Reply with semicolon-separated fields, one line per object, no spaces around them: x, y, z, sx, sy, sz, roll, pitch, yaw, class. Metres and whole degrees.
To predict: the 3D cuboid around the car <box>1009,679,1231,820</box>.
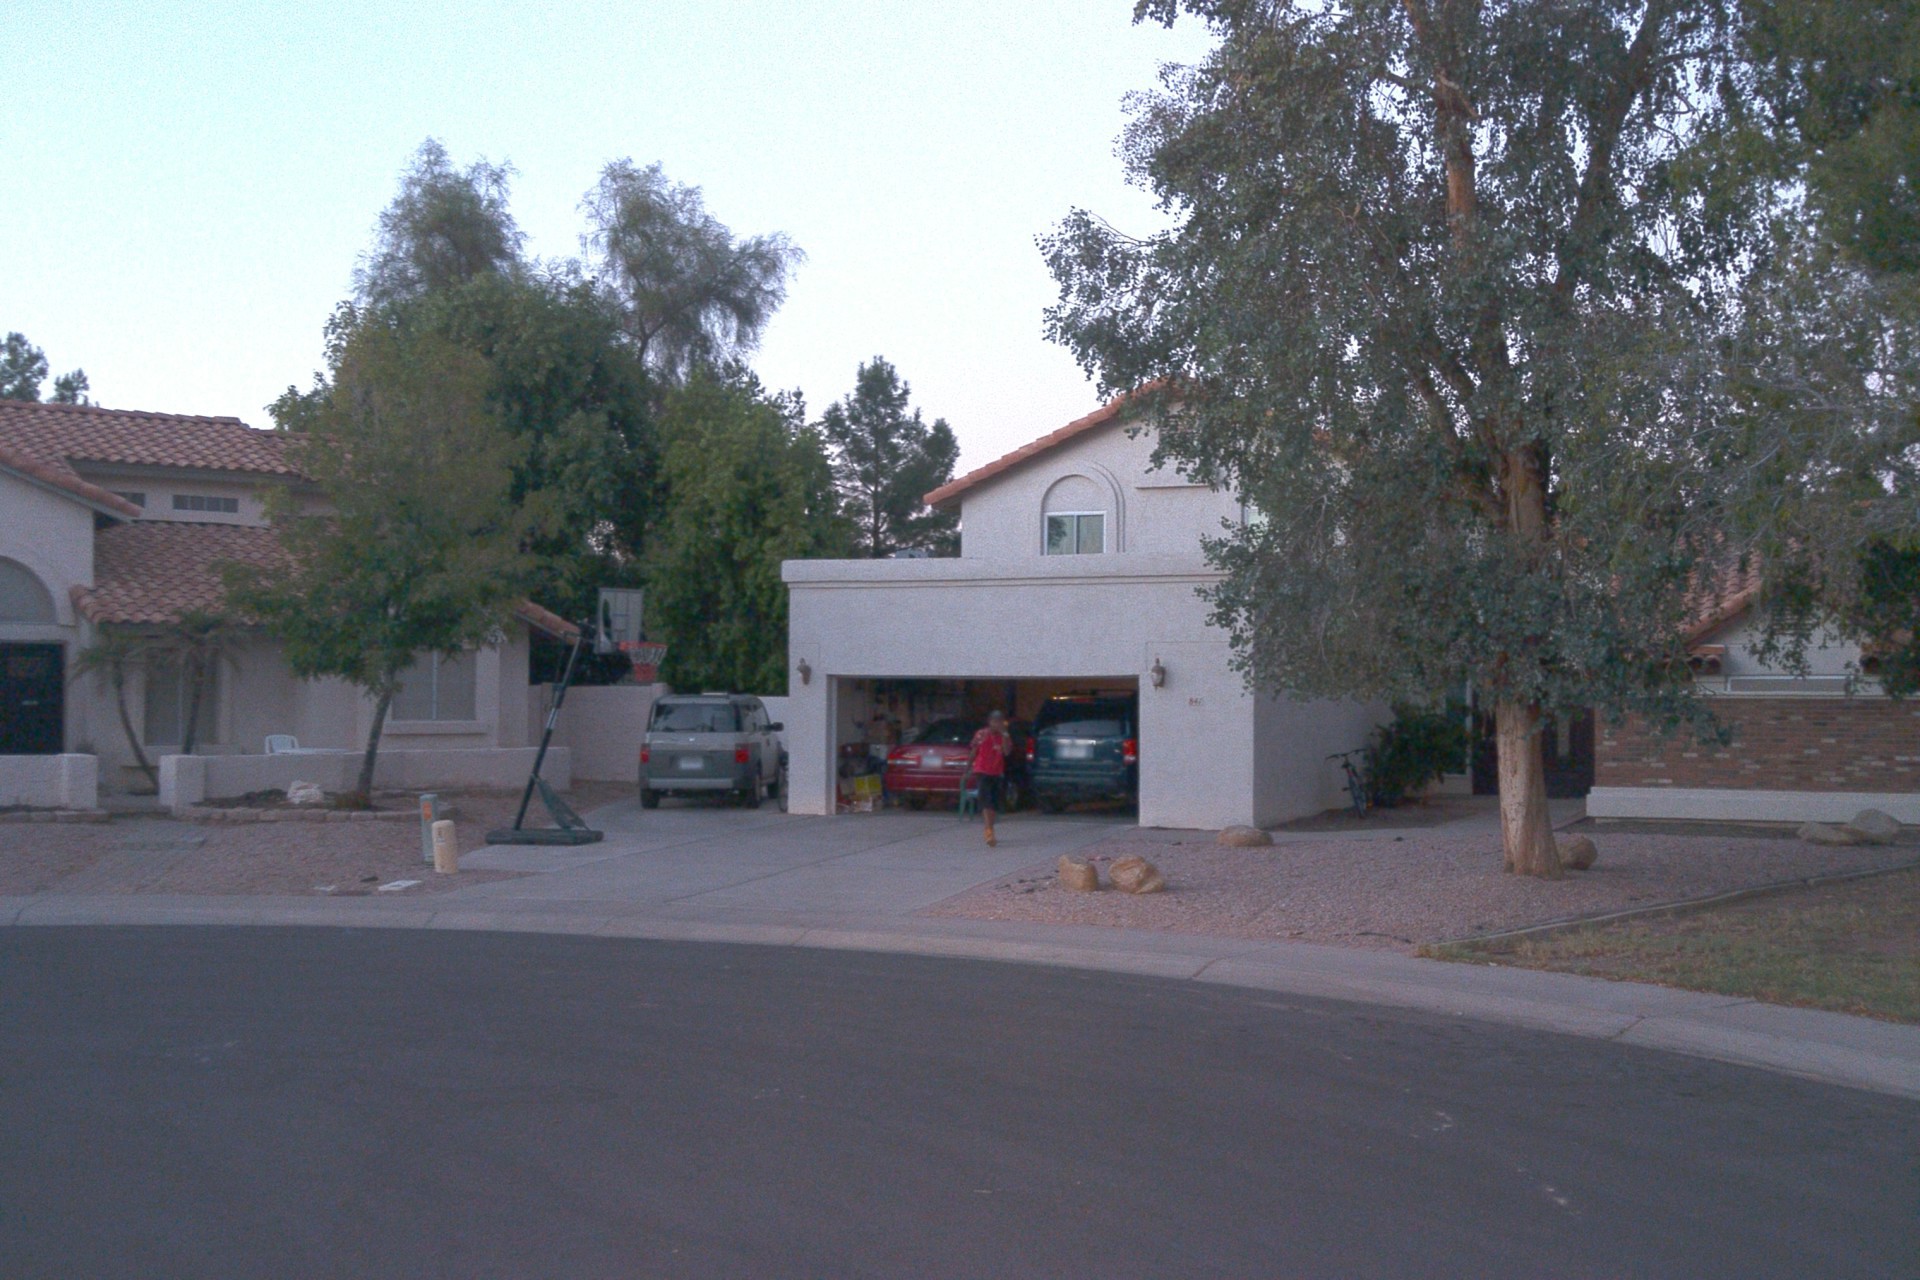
2.489;1.619;31.476;1.952;1.960;3.934;0;-2;27;car

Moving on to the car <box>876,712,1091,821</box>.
0.435;1.902;32.220;1.795;1.540;3.847;0;-2;27;car

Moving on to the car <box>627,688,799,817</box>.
-3.876;1.750;33.405;1.968;1.900;4.084;1;-2;4;car

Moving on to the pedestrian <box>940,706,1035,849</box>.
0.337;1.714;26.149;0.981;1.750;0.979;1;-2;-11;pedestrian
